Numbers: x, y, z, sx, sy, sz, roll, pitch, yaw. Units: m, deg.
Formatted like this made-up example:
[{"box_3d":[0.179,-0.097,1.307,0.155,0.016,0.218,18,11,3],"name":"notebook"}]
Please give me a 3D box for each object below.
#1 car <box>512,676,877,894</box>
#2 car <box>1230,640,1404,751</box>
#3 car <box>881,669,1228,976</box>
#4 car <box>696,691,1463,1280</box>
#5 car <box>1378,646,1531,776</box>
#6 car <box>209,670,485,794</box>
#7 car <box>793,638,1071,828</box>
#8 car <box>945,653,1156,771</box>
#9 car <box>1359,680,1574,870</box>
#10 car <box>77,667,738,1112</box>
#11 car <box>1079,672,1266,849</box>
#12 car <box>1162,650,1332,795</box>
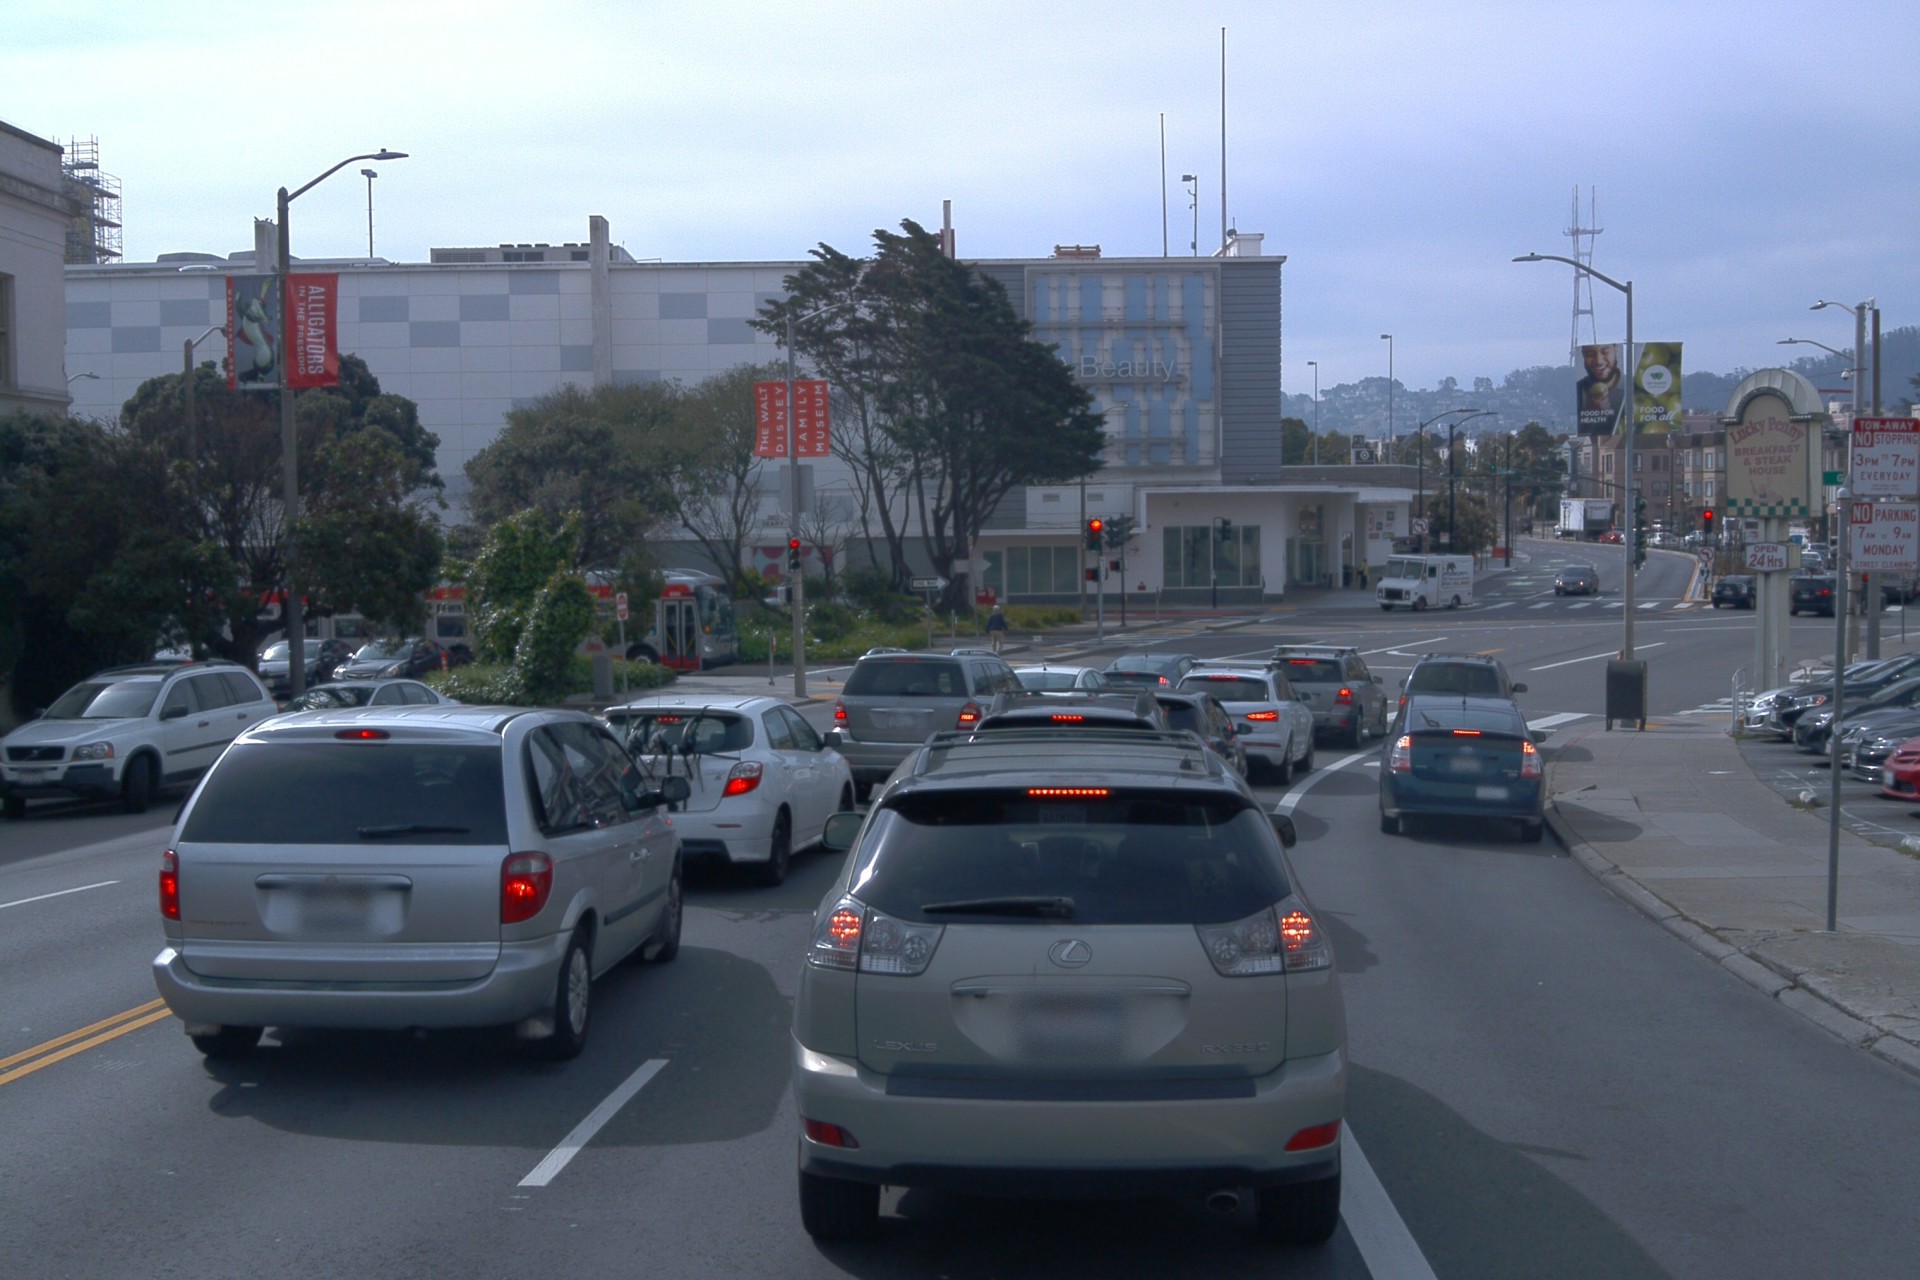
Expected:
[{"box_3d":[-2.124,1.134,17.680,1.982,1.530,4.306,1,0,9],"name":"car"},{"box_3d":[6.641,0.943,37.538,2.226,1.850,5.307,1,0,20],"name":"car"},{"box_3d":[0.884,1.203,15.459,2.119,1.870,4.391,1,0,9],"name":"car"},{"box_3d":[0.408,1.169,8.137,2.197,1.780,4.467,1,0,2],"name":"car"},{"box_3d":[8.555,1.140,35.074,2.203,2.020,4.801,1,0,18],"name":"car"},{"box_3d":[-9.229,1.333,31.230,1.977,1.640,4.663,1,0,13],"name":"car"},{"box_3d":[-0.210,1.041,25.536,2.236,2.100,4.827,1,0,15],"name":"car"},{"box_3d":[1.542,1.077,32.736,2.220,1.670,4.643,1,0,18],"name":"car"},{"box_3d":[5.627,1.412,23.175,2.113,1.790,4.645,1,0,12],"name":"car"},{"box_3d":[-2.684,1.117,11.268,2.131,1.830,4.635,1,0,4],"name":"car"},{"box_3d":[2.539,1.309,23.697,1.526,1.780,3.939,1,0,15],"name":"car"},{"box_3d":[4.174,1.102,29.245,1.795,1.880,4.044,1,0,17],"name":"car"}]
